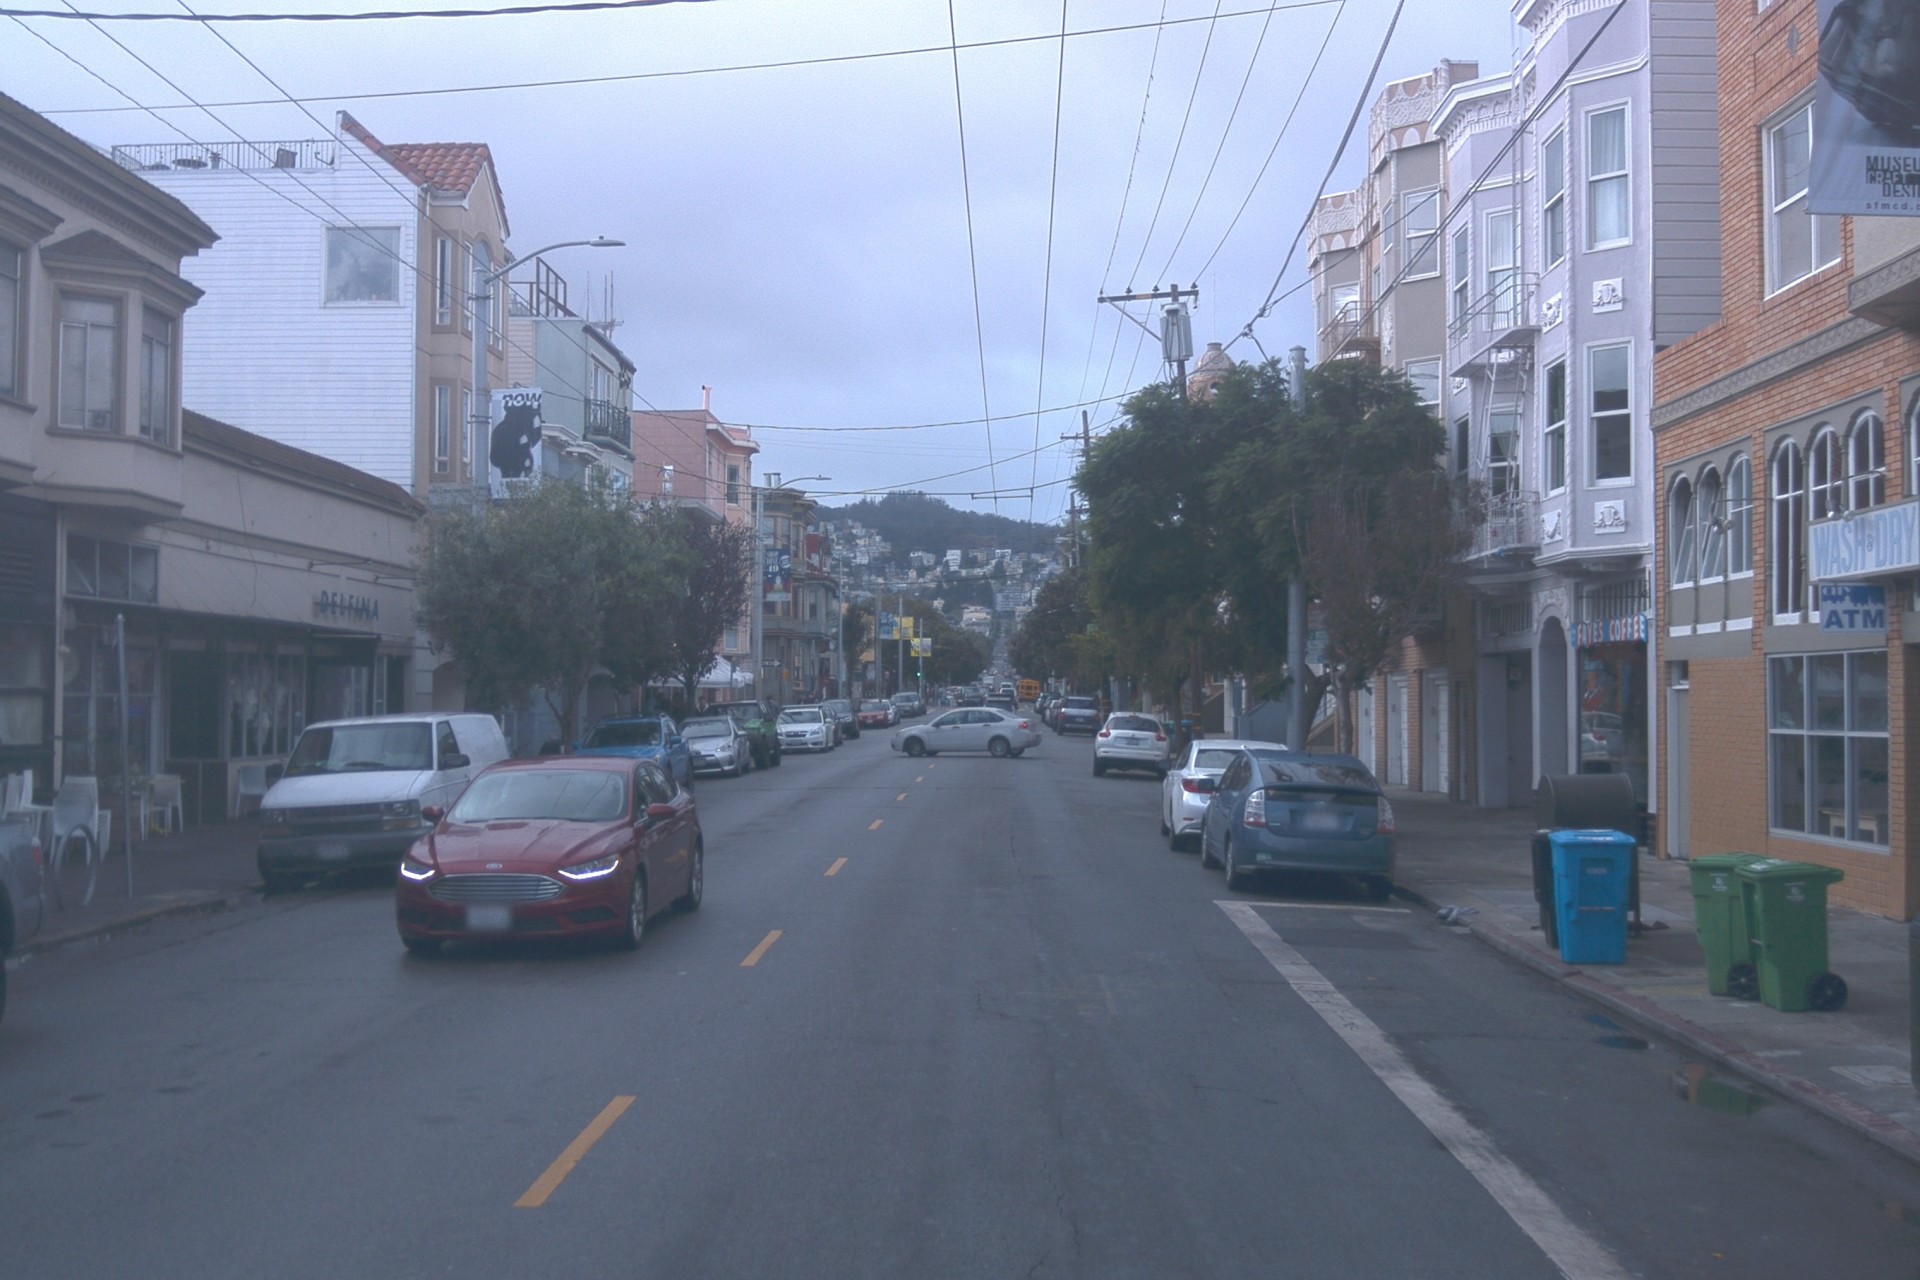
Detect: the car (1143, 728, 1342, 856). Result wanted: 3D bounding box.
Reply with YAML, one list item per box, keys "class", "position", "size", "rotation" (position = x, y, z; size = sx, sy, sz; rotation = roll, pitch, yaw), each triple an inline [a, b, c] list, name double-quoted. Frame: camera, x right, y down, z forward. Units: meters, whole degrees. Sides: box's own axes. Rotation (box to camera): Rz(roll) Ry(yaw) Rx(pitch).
- class: "car"
  position: [3.698, 1.973, 28.115]
  size: [2.162, 1.460, 4.919]
  rotation: [1, -2, 2]

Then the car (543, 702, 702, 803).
- class: "car"
  position: [-6.002, 1.978, 37.612]
  size: [2.059, 1.660, 4.380]
  rotation: [1, -2, 1]

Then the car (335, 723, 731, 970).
- class: "car"
  position: [-3.350, 1.589, 17.467]
  size: [2.130, 1.680, 4.837]
  rotation: [1, -2, 2]

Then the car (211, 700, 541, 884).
- class: "car"
  position: [-6.552, 1.648, 24.063]
  size: [2.329, 1.860, 4.798]
  rotation: [1, -2, 1]

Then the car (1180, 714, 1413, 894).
- class: "car"
  position: [3.600, 1.719, 23.084]
  size: [2.039, 1.730, 4.444]
  rotation: [1, -2, 3]
